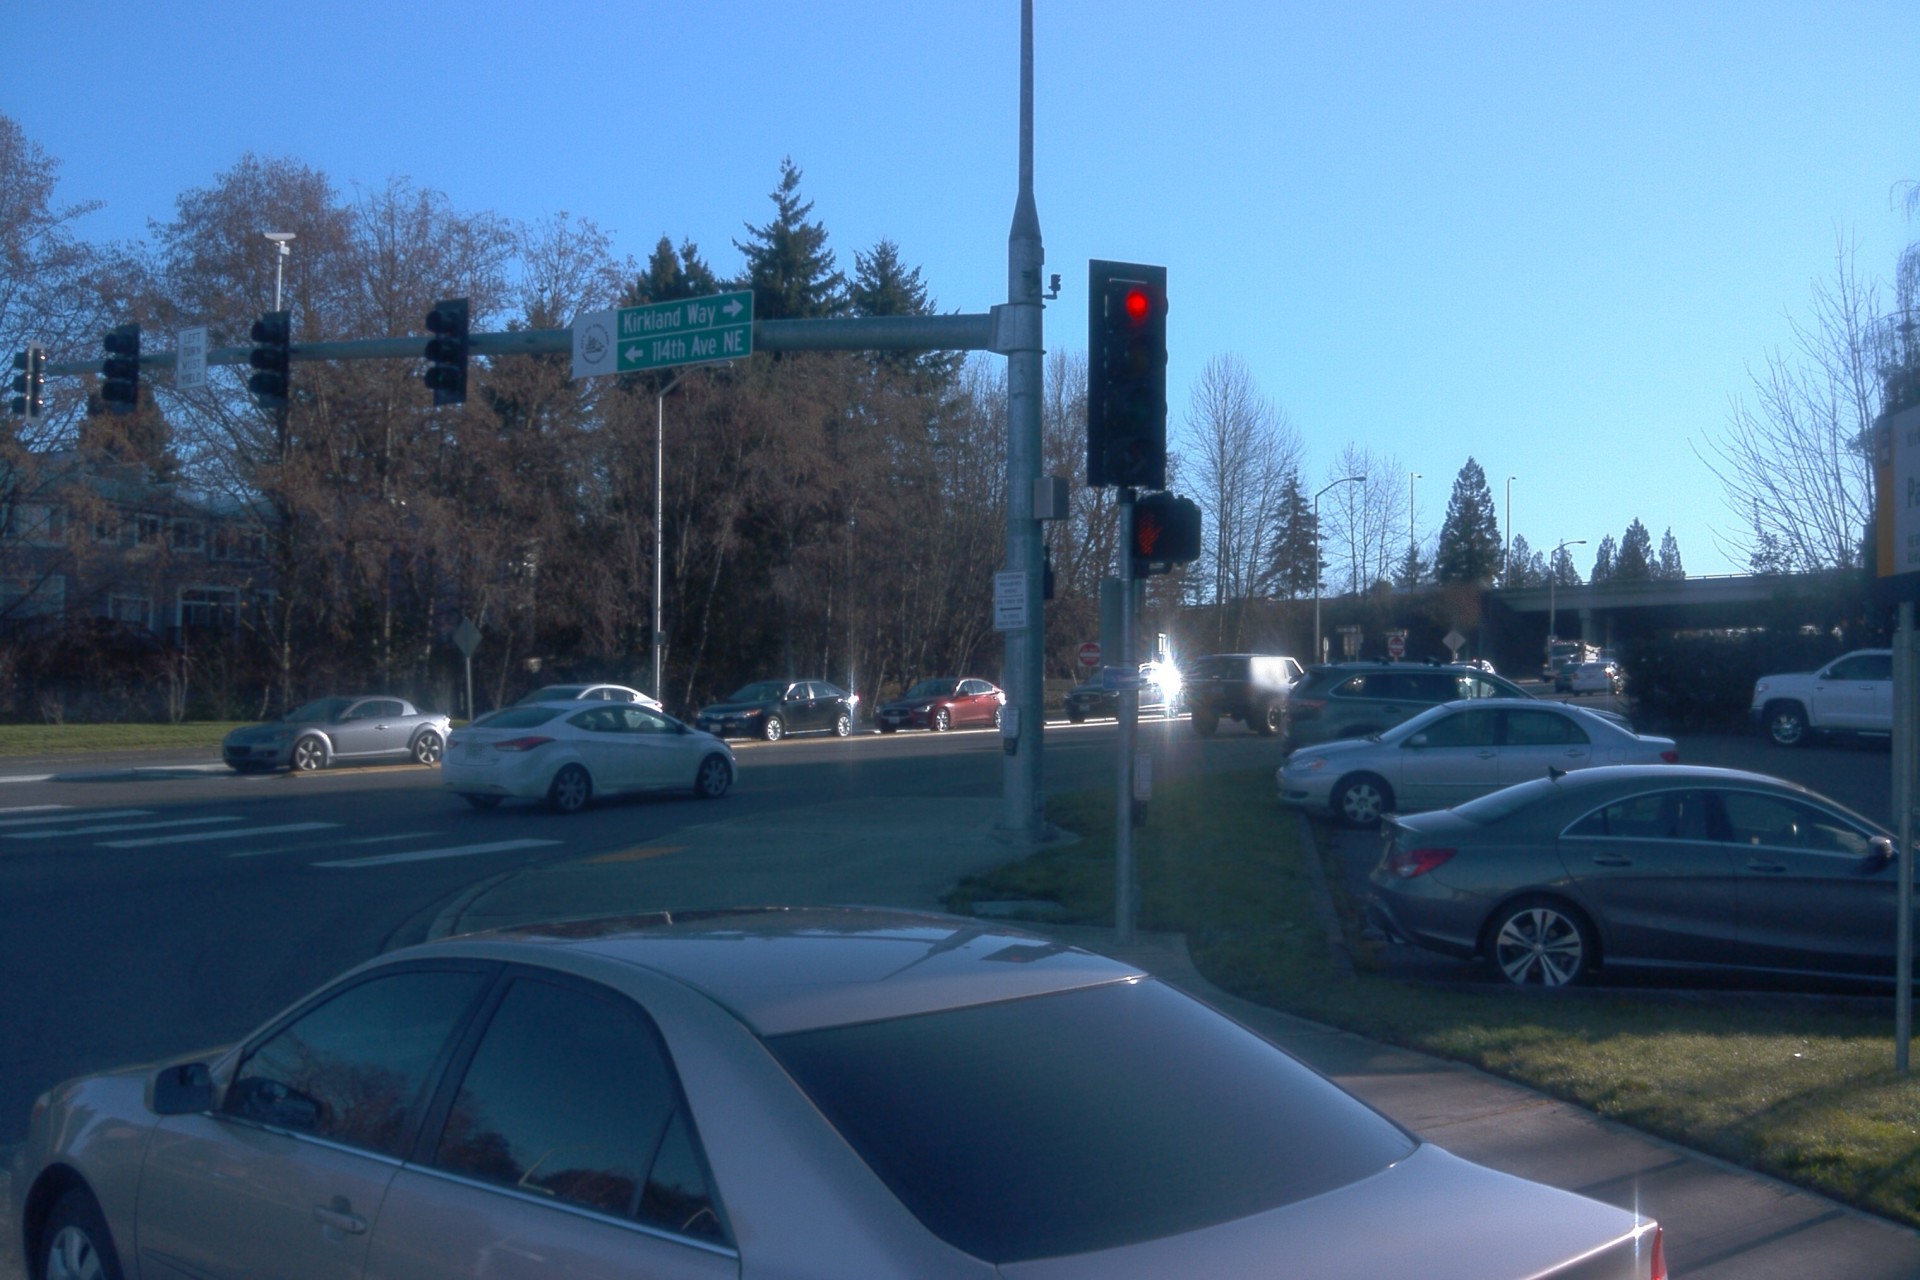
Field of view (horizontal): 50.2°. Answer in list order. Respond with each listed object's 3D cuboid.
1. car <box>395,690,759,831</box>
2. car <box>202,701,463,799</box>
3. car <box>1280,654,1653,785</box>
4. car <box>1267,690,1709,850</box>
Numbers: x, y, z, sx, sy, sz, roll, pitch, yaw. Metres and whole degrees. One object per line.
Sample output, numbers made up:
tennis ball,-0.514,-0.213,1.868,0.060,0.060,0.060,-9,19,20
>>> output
car,-5.017,1.526,27.417,2.108,1.560,4.595,1,1,36
car,-11.048,1.901,36.340,1.817,1.450,4.298,1,1,32
car,7.007,1.077,28.821,4.869,1.700,2.043,0,0,7
car,5.908,1.442,23.459,4.657,1.620,2.051,0,0,7
